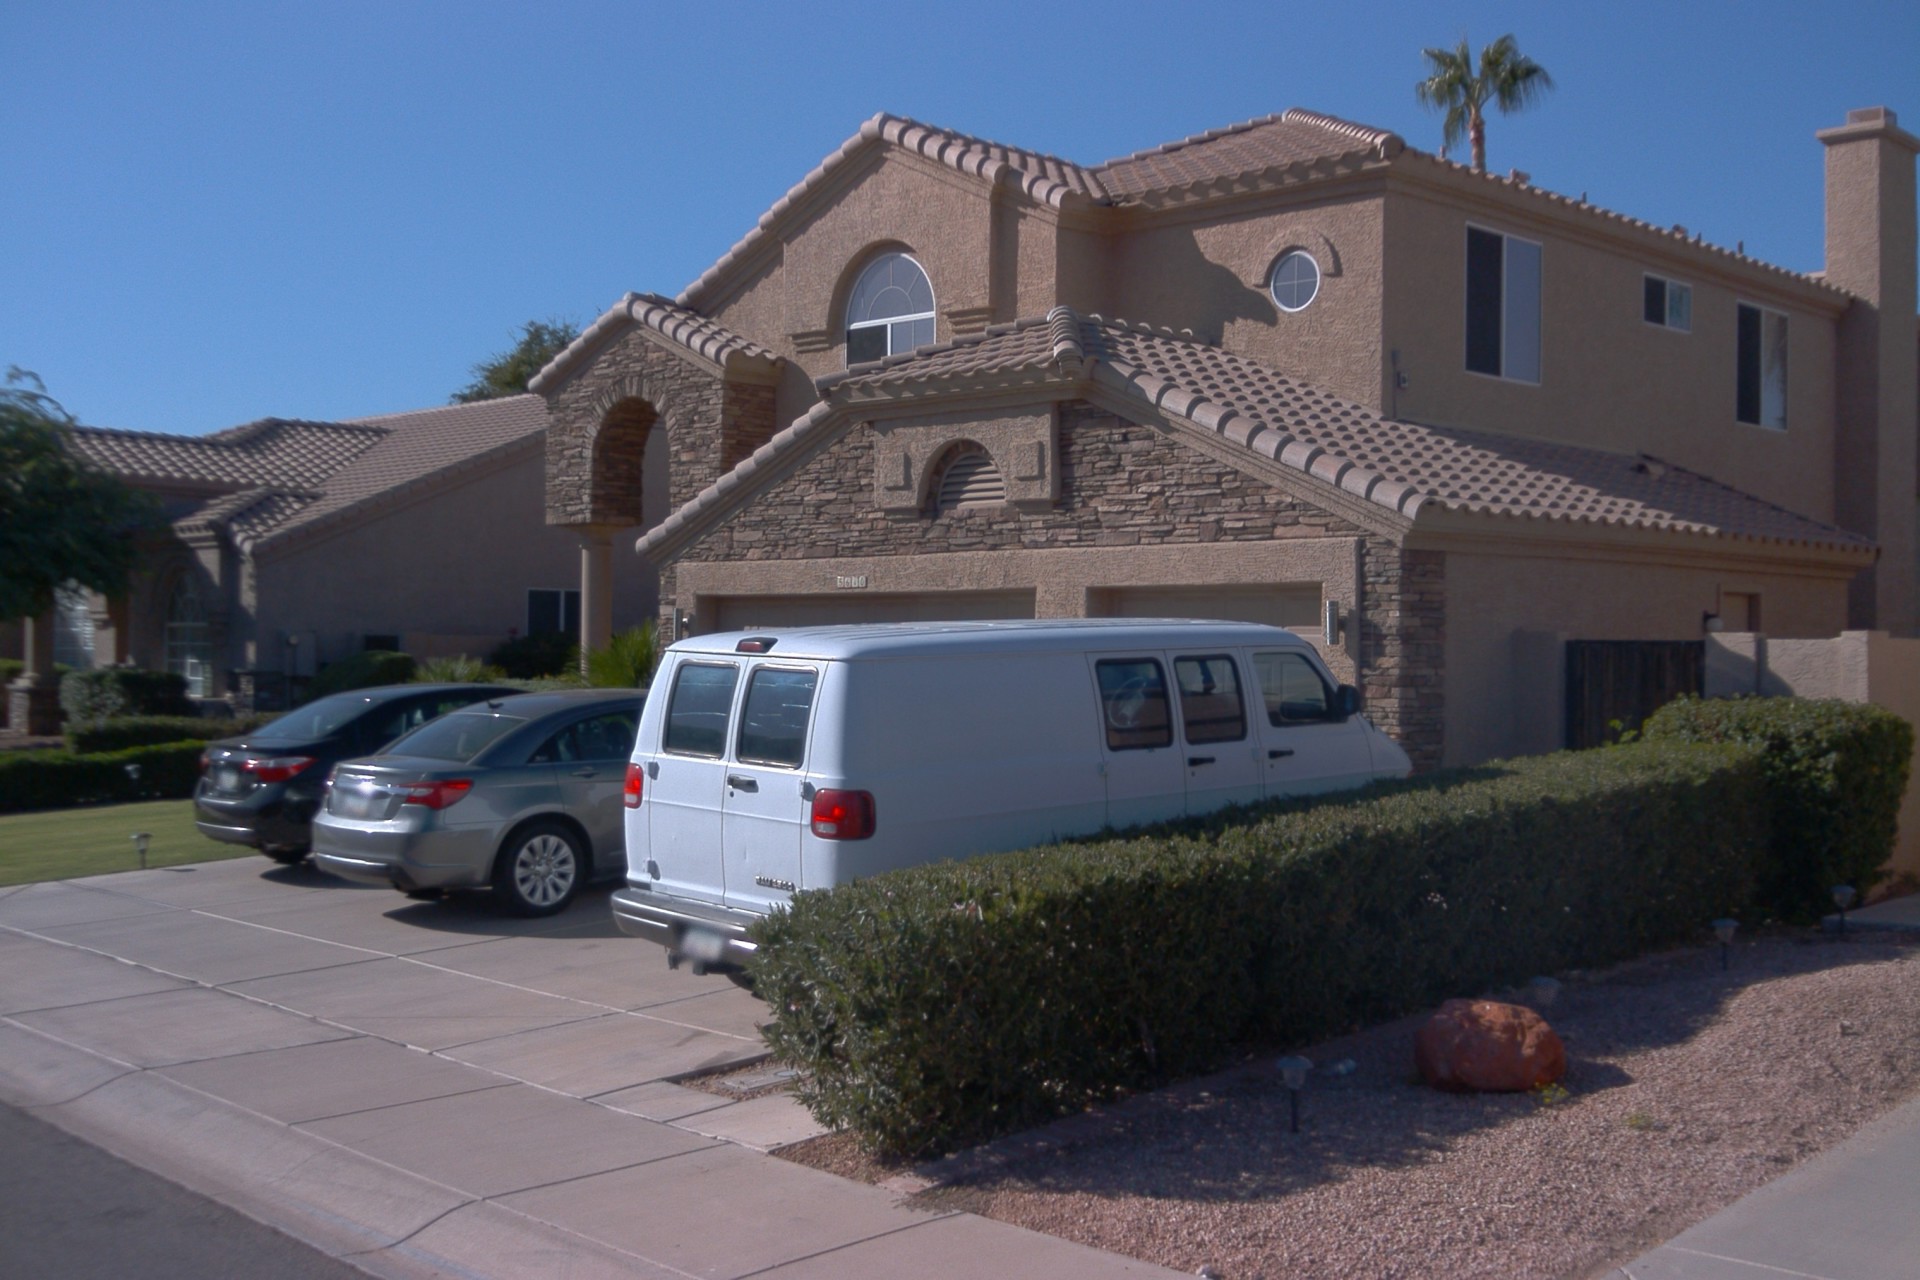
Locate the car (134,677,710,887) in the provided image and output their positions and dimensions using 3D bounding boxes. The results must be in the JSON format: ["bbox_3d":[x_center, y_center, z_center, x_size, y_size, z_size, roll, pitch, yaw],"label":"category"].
[{"bbox_3d":[-4.582,1.127,18.151,4.393,1.560,2.066,1,0,-43],"label":"car"}]

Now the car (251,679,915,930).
[{"bbox_3d":[-2.749,1.116,15.881,4.566,1.590,2.078,1,0,-43],"label":"car"}]

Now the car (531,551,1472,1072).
[{"bbox_3d":[0.432,0.799,12.072,5.168,2.360,2.444,1,0,-43],"label":"car"}]
